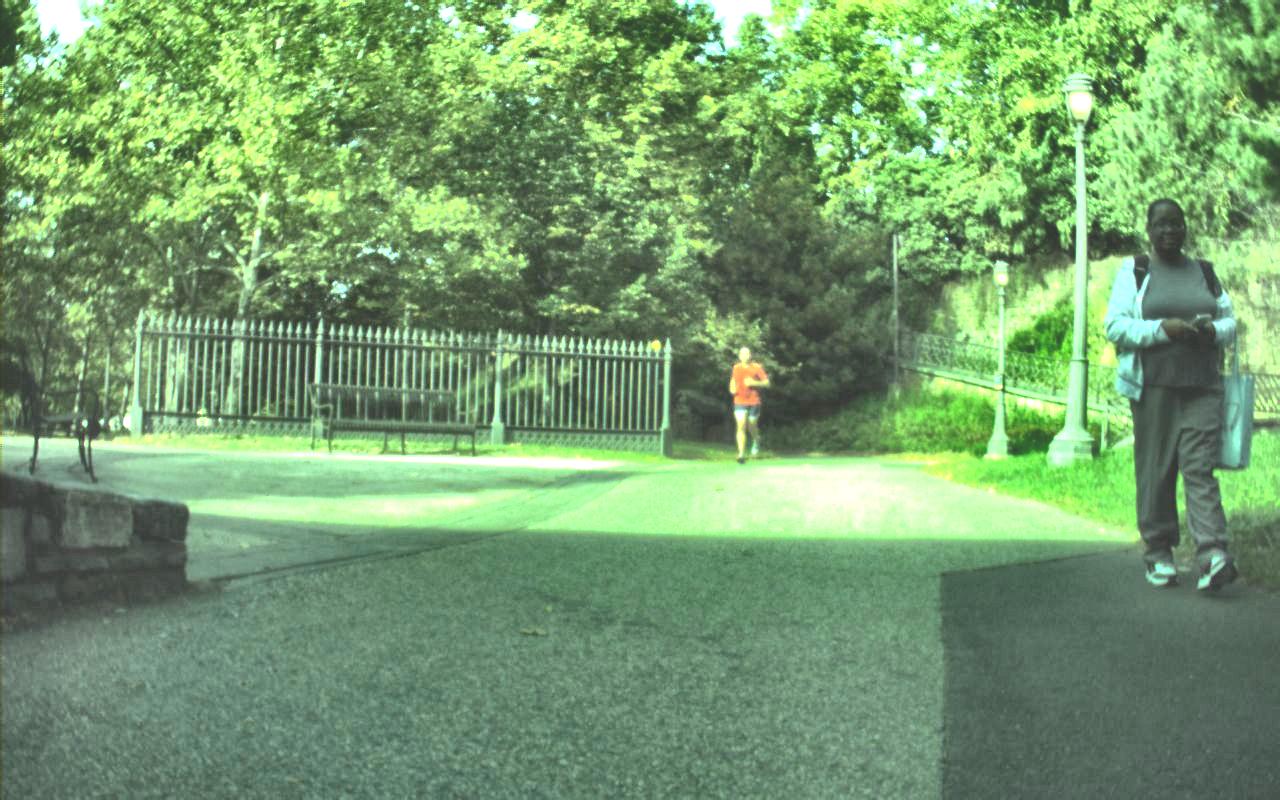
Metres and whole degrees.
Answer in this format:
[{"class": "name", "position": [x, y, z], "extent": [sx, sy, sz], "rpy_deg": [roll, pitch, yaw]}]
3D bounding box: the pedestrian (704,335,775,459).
[{"class": "pedestrian", "position": [1.515, -0.055, 19.122], "extent": [0.824, 1.828, 0.936], "rpy_deg": [1, 0, 21]}]

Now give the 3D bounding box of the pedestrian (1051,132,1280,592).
[{"class": "pedestrian", "position": [2.245, -0.143, 4.843], "extent": [0.796, 1.731, 0.828], "rpy_deg": [0, 0, -11]}]
